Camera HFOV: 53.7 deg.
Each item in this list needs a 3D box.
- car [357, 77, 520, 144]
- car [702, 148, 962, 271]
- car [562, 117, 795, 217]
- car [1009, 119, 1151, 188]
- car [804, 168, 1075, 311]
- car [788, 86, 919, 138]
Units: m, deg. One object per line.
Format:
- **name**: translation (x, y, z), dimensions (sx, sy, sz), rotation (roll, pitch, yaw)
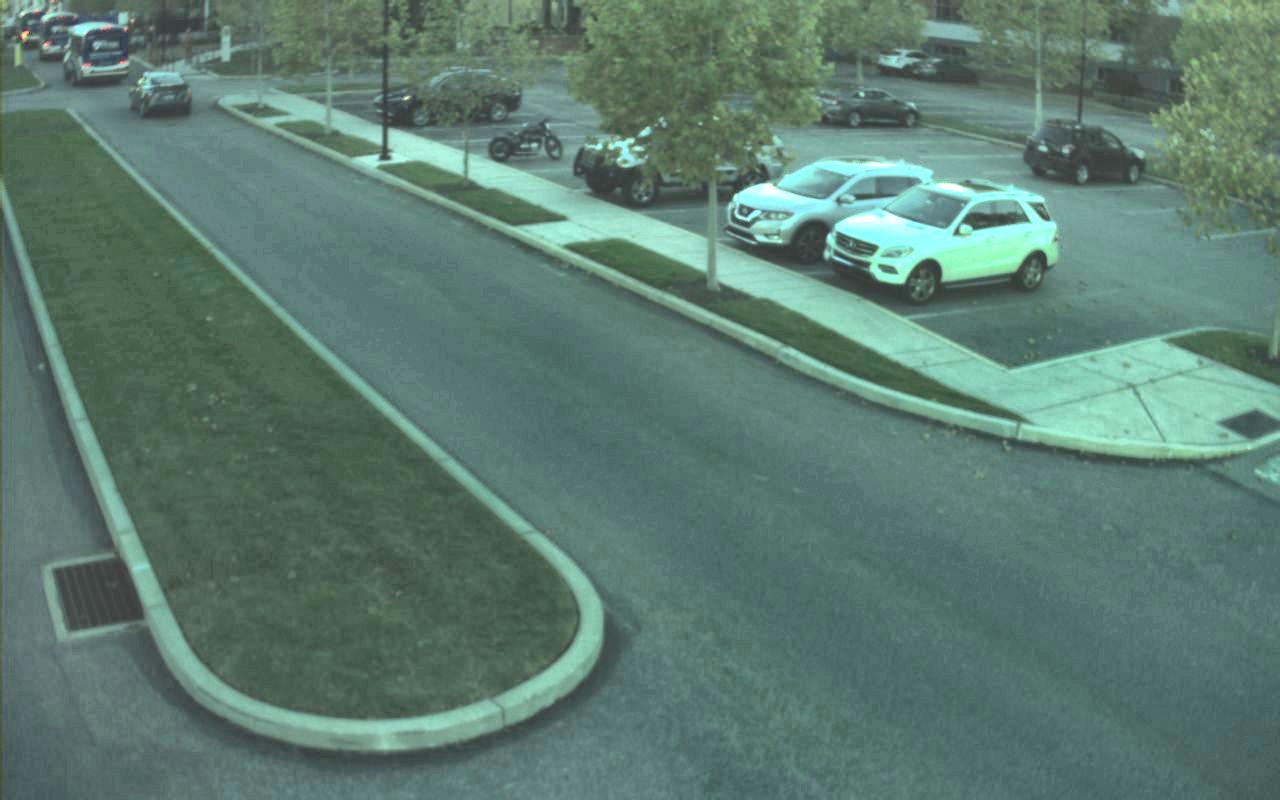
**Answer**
- **car**: translation (-6.203, -8.945, 37.823), dimensions (4.679, 1.730, 2.004), rotation (-13, 19, -35)
- **car**: translation (3.654, -3.642, 23.197), dimensions (4.721, 1.742, 2.024), rotation (-11, 18, -31)
- **car**: translation (0.889, -5.154, 27.216), dimensions (4.758, 1.728, 2.031), rotation (-11, 18, -31)
- **car**: translation (13.043, -7.283, 34.964), dimensions (4.677, 1.721, 2.018), rotation (-12, 19, -32)
- **car**: translation (5.280, -2.881, 21.215), dimensions (4.820, 1.806, 2.051), rotation (-11, 19, -32)
- **car**: translation (7.564, -10.149, 43.339), dimensions (4.568, 1.642, 1.987), rotation (-11, 19, -32)
